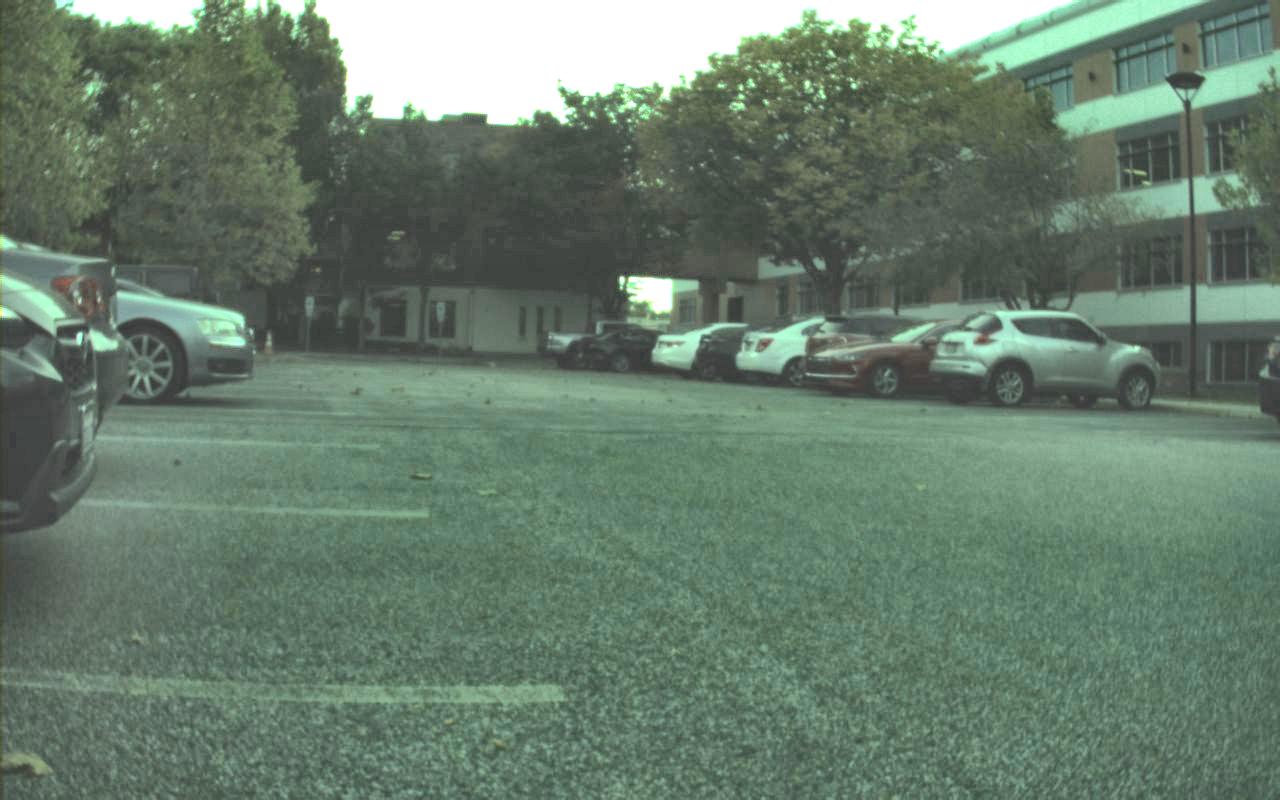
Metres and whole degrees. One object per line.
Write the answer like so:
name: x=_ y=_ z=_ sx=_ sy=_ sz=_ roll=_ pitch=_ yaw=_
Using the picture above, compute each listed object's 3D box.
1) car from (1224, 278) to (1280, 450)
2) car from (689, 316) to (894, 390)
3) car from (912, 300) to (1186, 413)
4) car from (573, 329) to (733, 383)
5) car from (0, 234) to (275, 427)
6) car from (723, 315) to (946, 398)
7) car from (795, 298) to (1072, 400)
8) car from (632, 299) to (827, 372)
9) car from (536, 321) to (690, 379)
car: x=8.752 y=-0.333 z=12.083 sx=4.568 sy=1.658 sz=1.975 roll=0 pitch=1 yaw=-16
car: x=3.551 y=-1.058 z=29.503 sx=4.416 sy=1.636 sz=1.941 roll=0 pitch=1 yaw=-15
car: x=6.669 y=-0.652 z=19.549 sx=4.285 sy=1.661 sz=1.898 roll=0 pitch=1 yaw=-14
car: x=0.397 y=-1.339 z=39.384 sx=4.599 sy=1.601 sz=1.956 roll=0 pitch=1 yaw=-25
car: x=-5.614 y=-0.602 z=10.506 sx=4.650 sy=1.637 sz=1.993 roll=0 pitch=1 yaw=-17
car: x=4.217 y=-0.913 z=27.198 sx=4.491 sy=1.700 sz=1.960 roll=0 pitch=1 yaw=-11
car: x=5.234 y=-0.849 z=21.915 sx=4.646 sy=1.654 sz=1.983 roll=0 pitch=1 yaw=-14
car: x=2.285 y=-1.598 z=32.193 sx=4.579 sy=1.752 sz=1.998 roll=0 pitch=1 yaw=-17
car: x=-0.950 y=-1.734 z=44.237 sx=5.019 sy=1.917 sz=2.095 roll=0 pitch=1 yaw=-17
